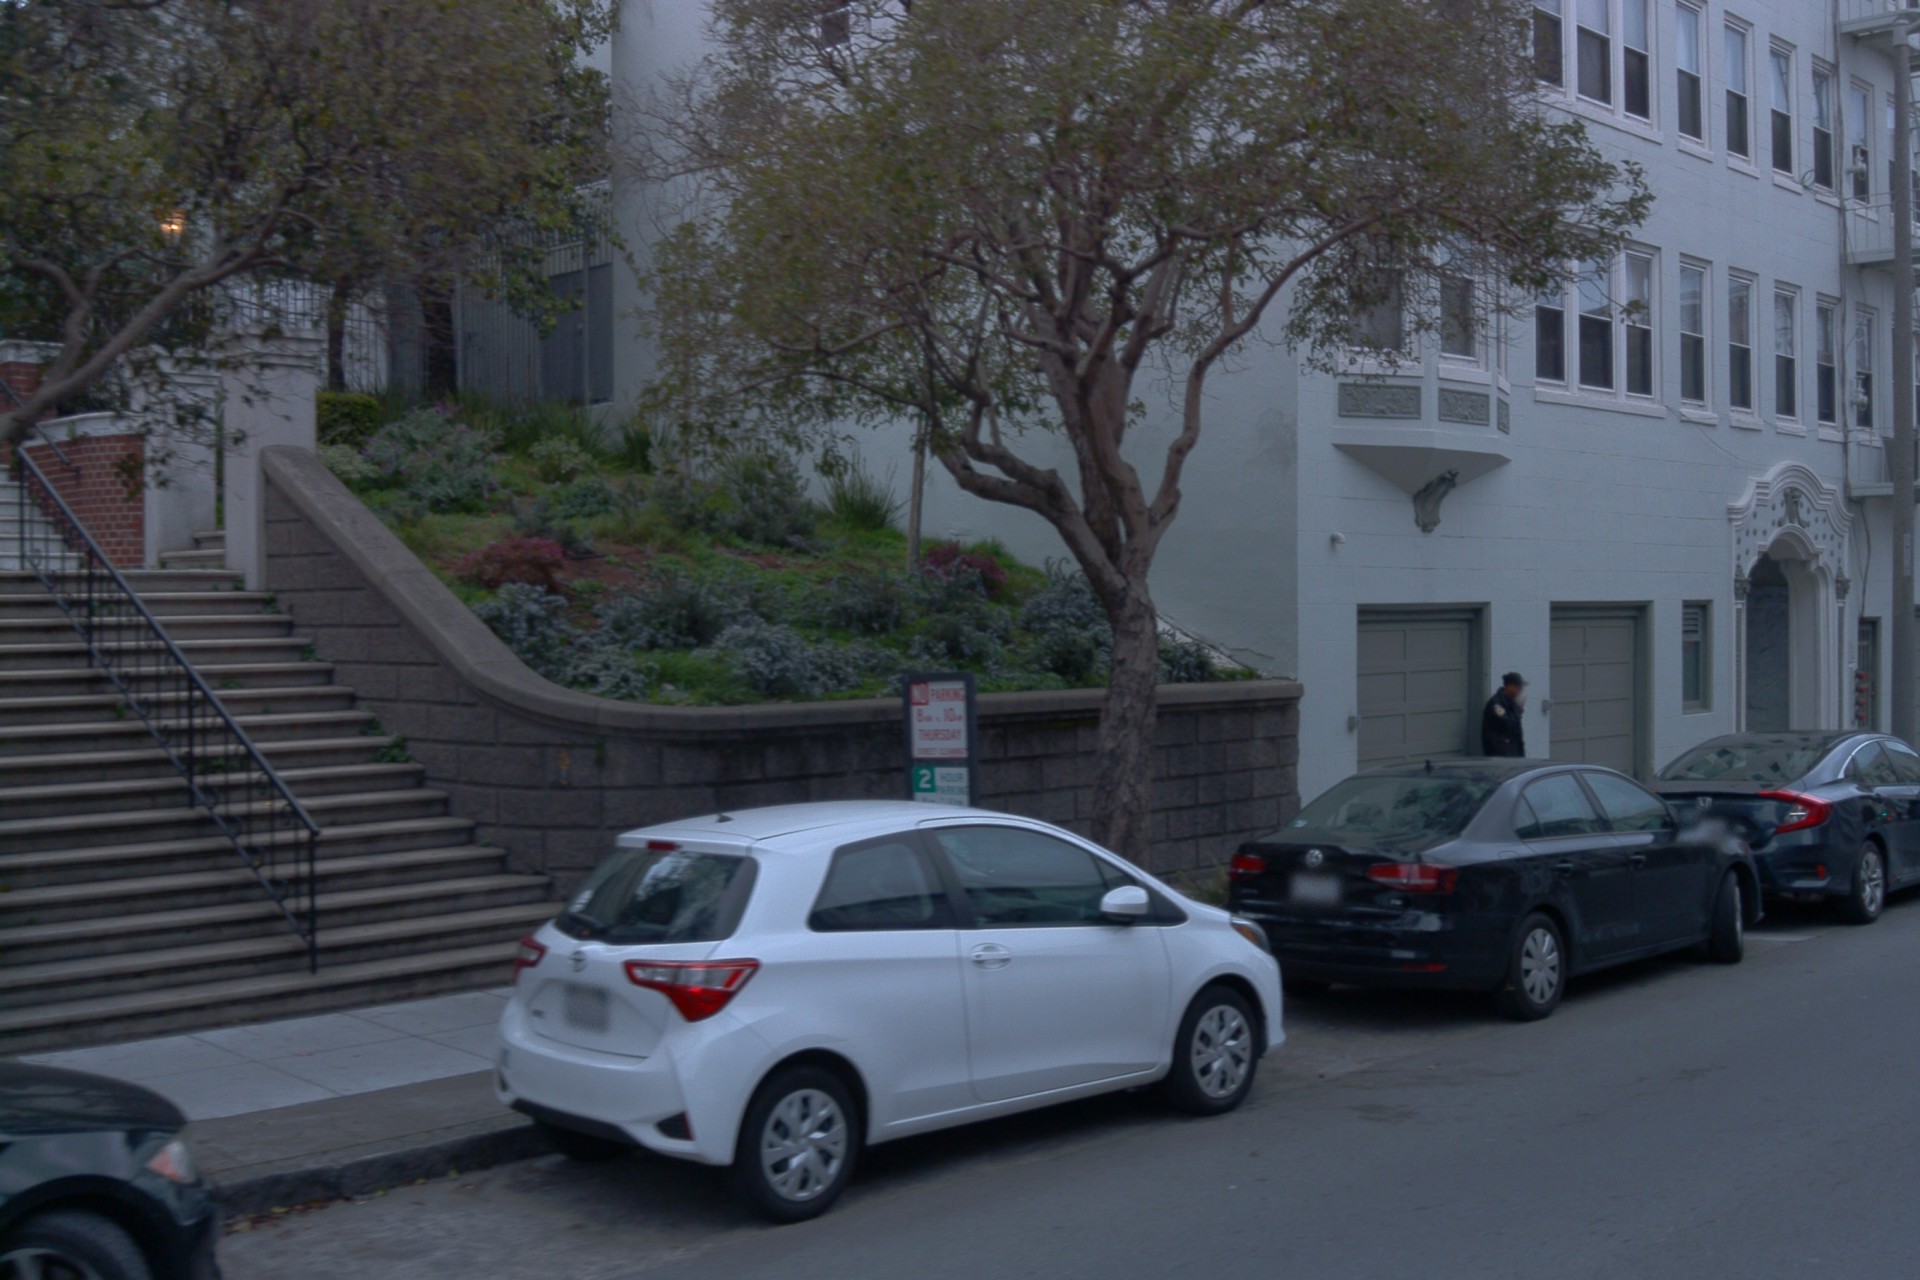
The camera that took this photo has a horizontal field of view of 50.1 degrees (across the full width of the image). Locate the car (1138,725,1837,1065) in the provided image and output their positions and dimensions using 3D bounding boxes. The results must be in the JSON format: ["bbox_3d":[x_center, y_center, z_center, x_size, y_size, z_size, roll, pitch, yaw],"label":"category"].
[{"bbox_3d":[3.506,1.417,13.025,4.829,1.490,2.100,0,1,-45],"label":"car"}]

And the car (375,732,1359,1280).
[{"bbox_3d":[-0.242,1.371,9.078,4.119,1.700,1.813,0,1,-42],"label":"car"}]

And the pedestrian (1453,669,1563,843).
[{"bbox_3d":[5.288,1.098,19.808,0.676,1.600,0.840,2,1,44],"label":"pedestrian"}]
